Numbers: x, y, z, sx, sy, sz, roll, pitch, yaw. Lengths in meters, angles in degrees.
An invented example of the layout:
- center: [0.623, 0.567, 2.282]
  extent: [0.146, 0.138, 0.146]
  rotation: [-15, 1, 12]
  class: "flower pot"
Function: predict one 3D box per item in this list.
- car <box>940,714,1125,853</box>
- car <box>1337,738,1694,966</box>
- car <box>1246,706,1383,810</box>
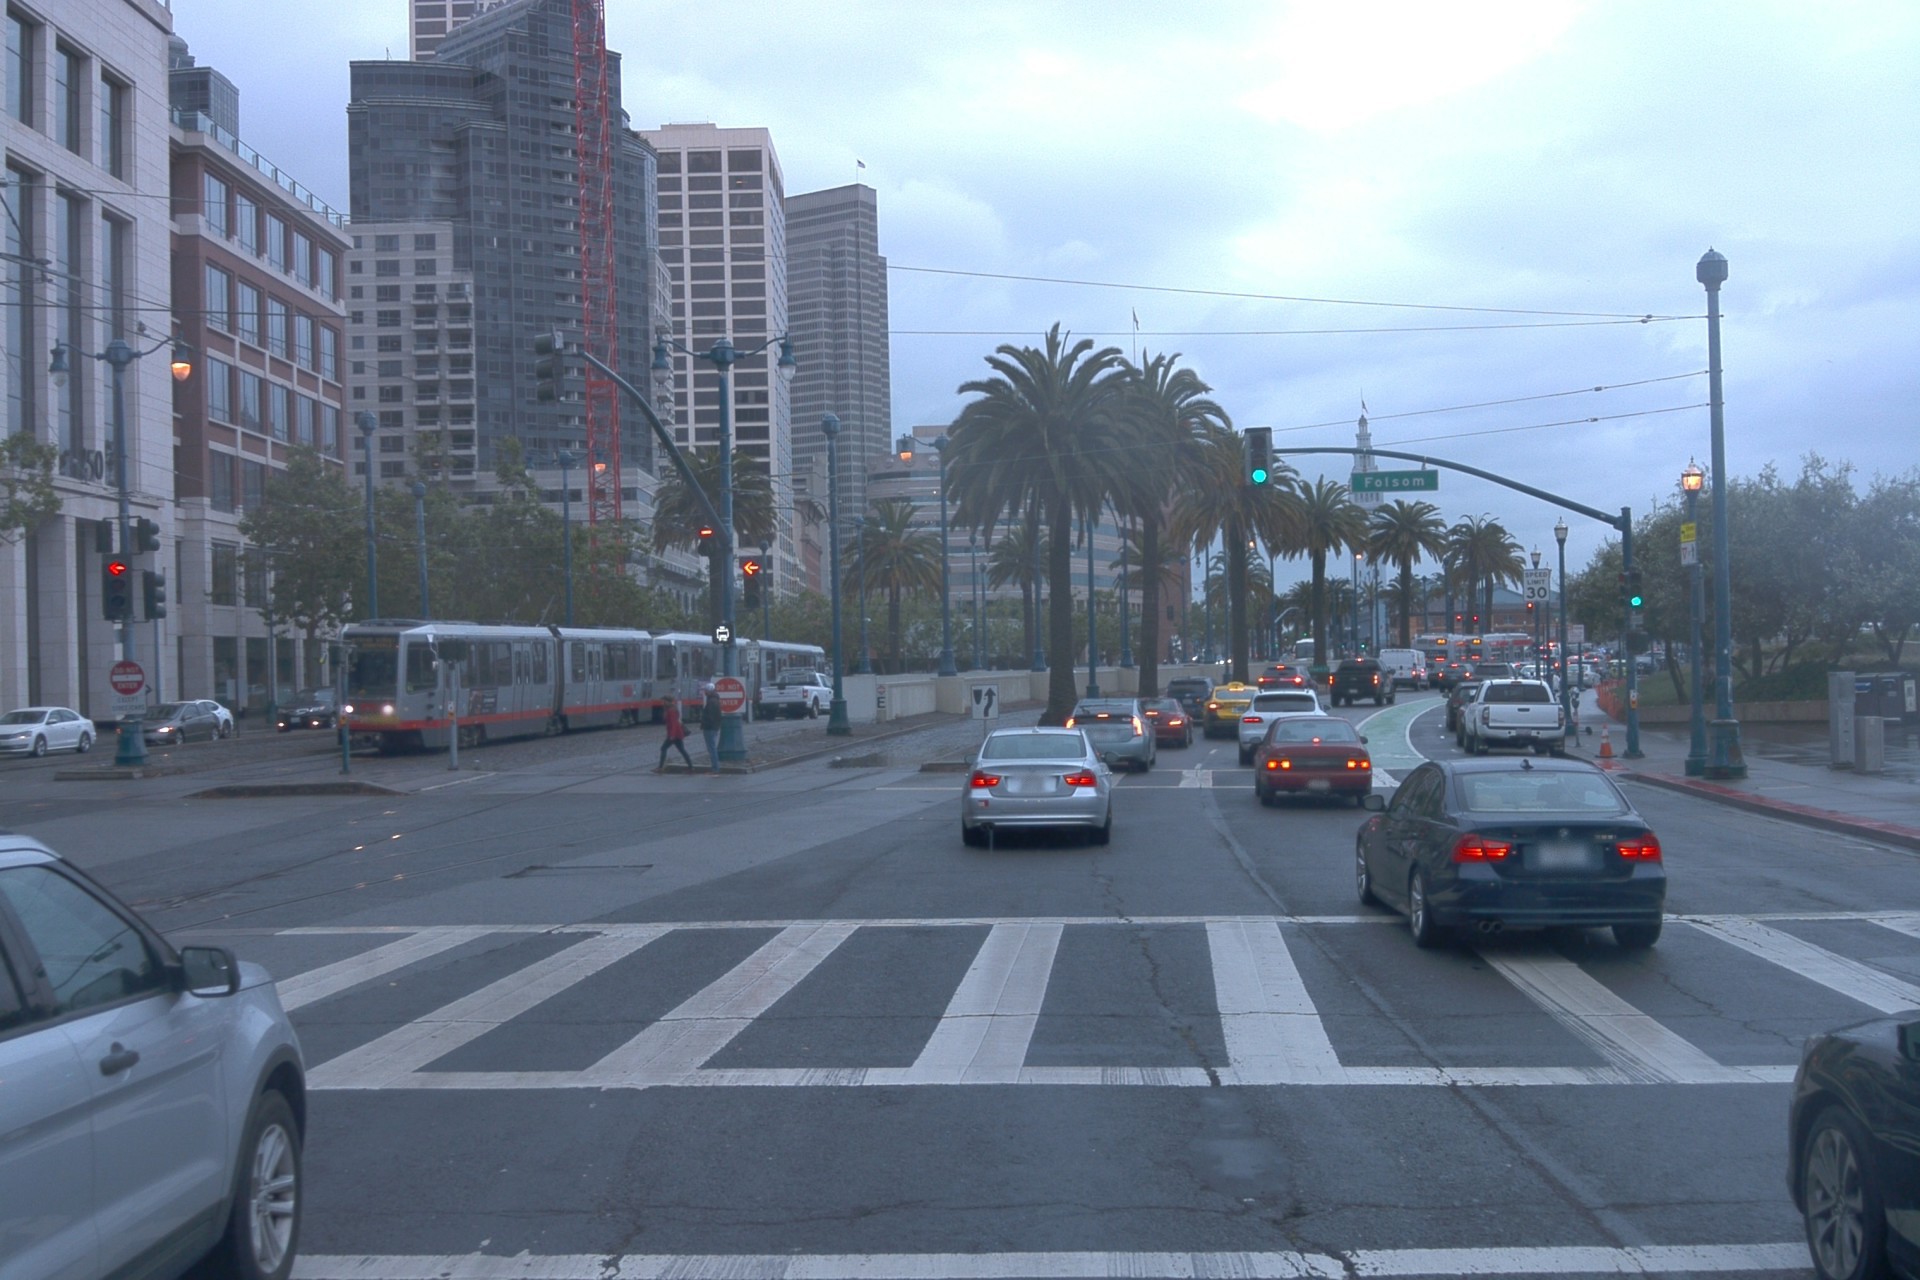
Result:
- center: [1.018, 1.742, 26.314]
  extent: [2.066, 1.510, 4.626]
  rotation: [0, -1, 5]
  class: "car"
- center: [4.287, 1.588, 16.705]
  extent: [1.869, 1.450, 4.344]
  rotation: [0, -1, 2]
  class: "car"
- center: [5.497, 1.802, 32.543]
  extent: [1.923, 1.450, 3.945]
  rotation: [0, -1, 7]
  class: "car"
